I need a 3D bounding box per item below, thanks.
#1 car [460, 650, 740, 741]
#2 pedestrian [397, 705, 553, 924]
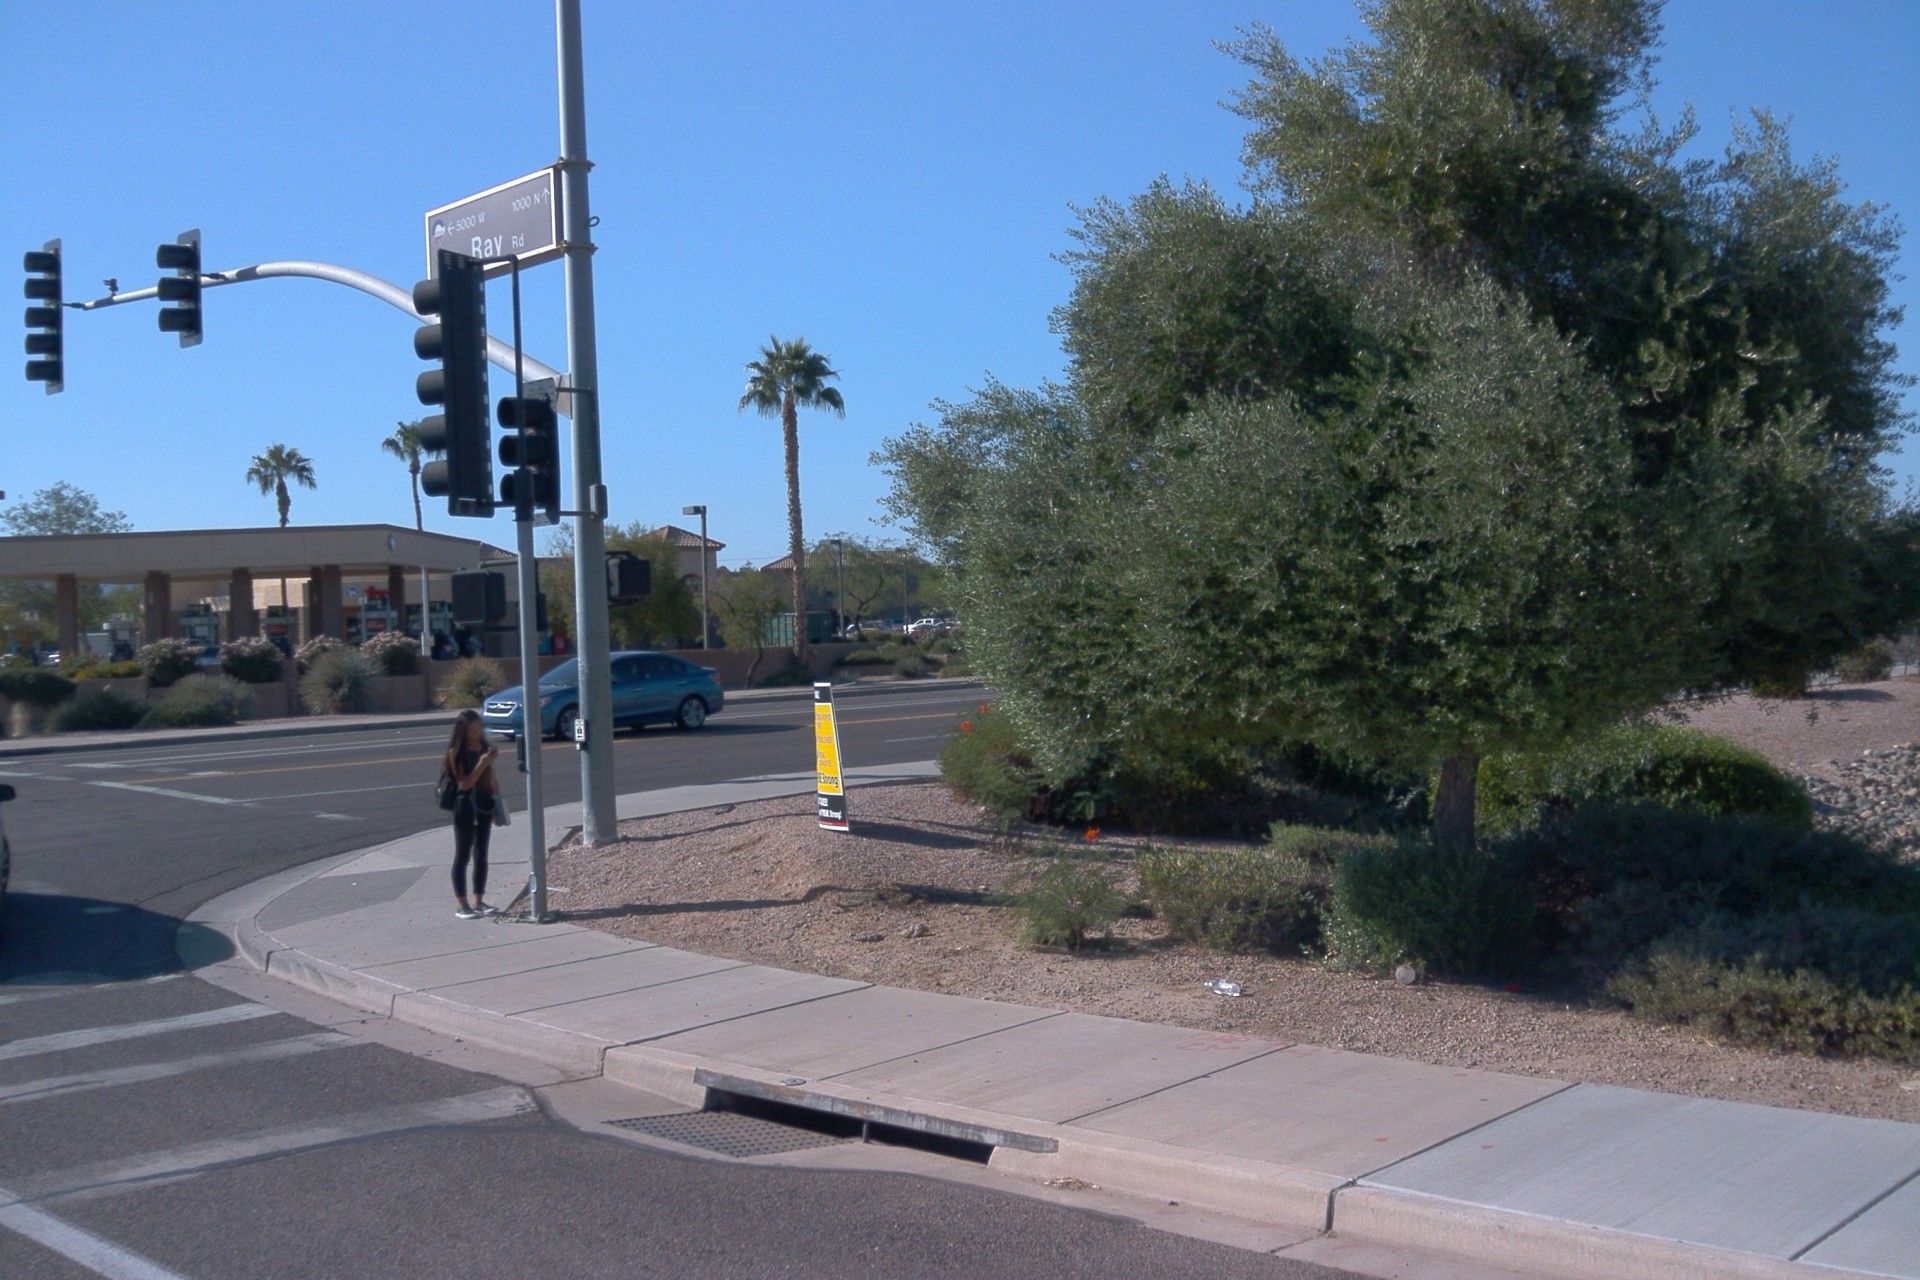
[{"bbox_3d":[-6.319,0.959,36.982,2.029,1.510,4.598,-2,-1,43],"label":"car"},{"bbox_3d":[-3.654,1.292,15.708,0.903,1.590,0.668,-1,-1,25],"label":"pedestrian"}]
